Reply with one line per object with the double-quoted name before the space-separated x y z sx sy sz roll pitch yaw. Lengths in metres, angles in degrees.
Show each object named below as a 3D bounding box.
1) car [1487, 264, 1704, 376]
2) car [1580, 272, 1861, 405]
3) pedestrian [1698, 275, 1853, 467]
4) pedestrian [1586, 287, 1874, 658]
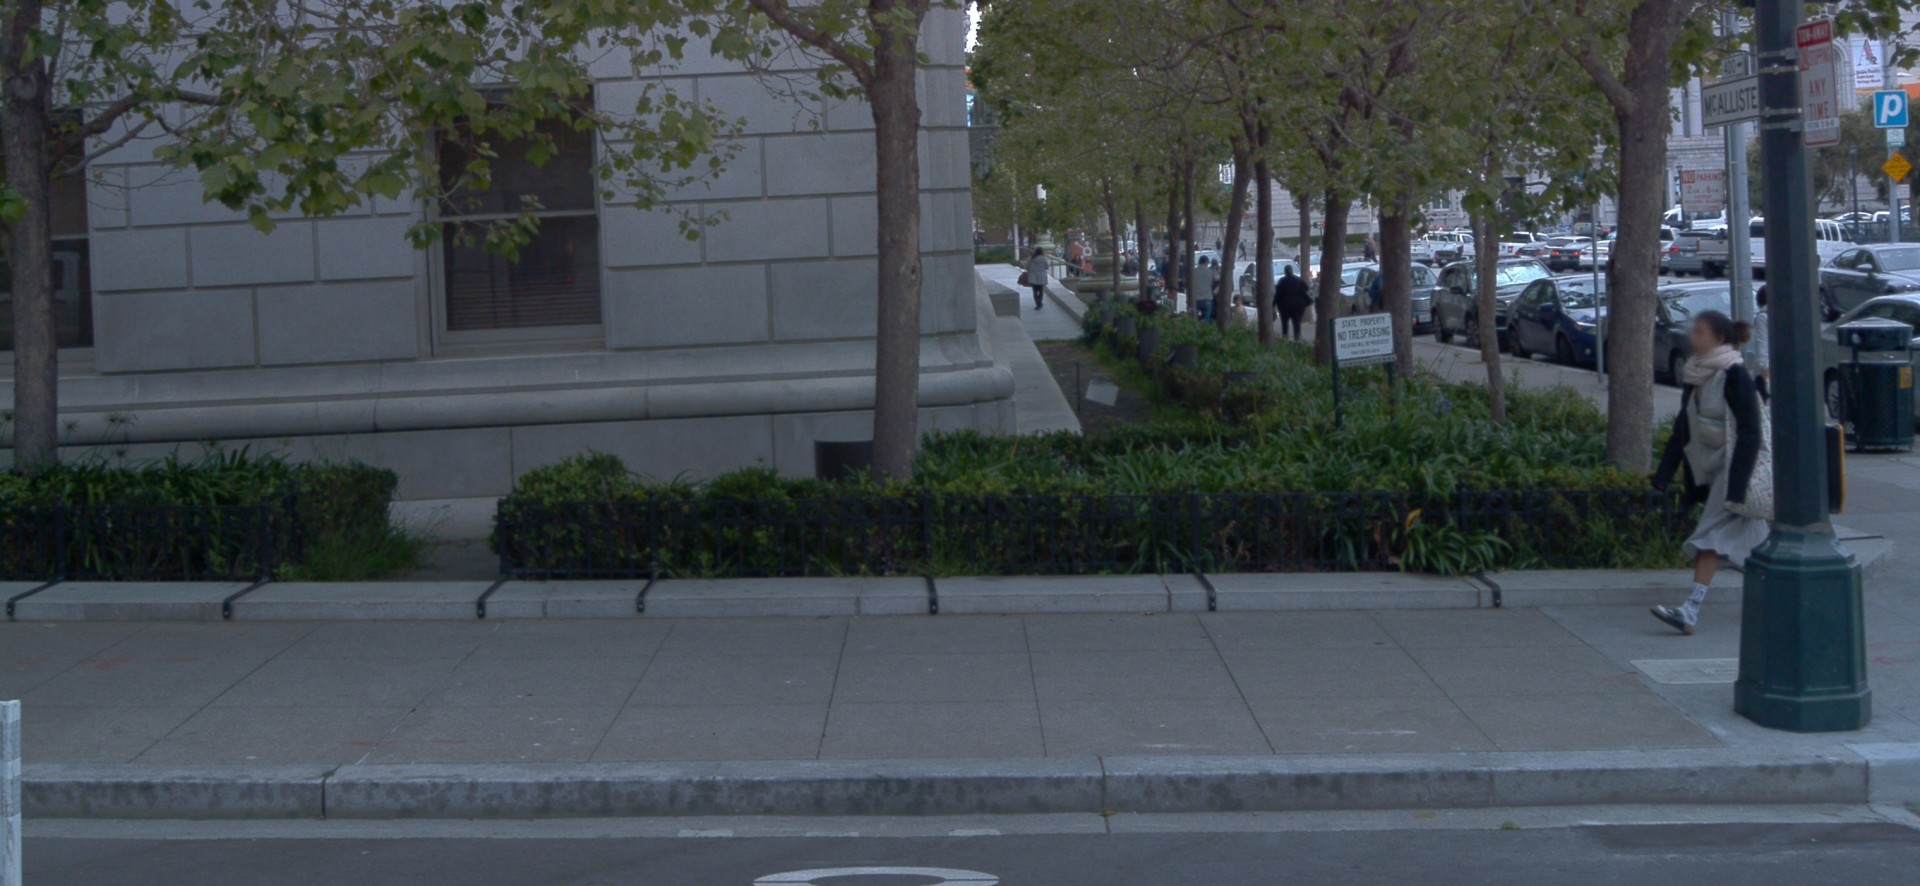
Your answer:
"car" 10.176 -2.058 33.417 2.072 1.521 4.713 0 6 0
"car" 10.262 -1.509 28.275 2.120 1.491 4.717 0 6 0
"pedestrian" 7.459 -0.686 18.877 1.015 1.654 0.857 -1 2 -24
"pedestrian" 3.969 0.096 10.677 1.042 1.751 0.933 -1 2 -23
